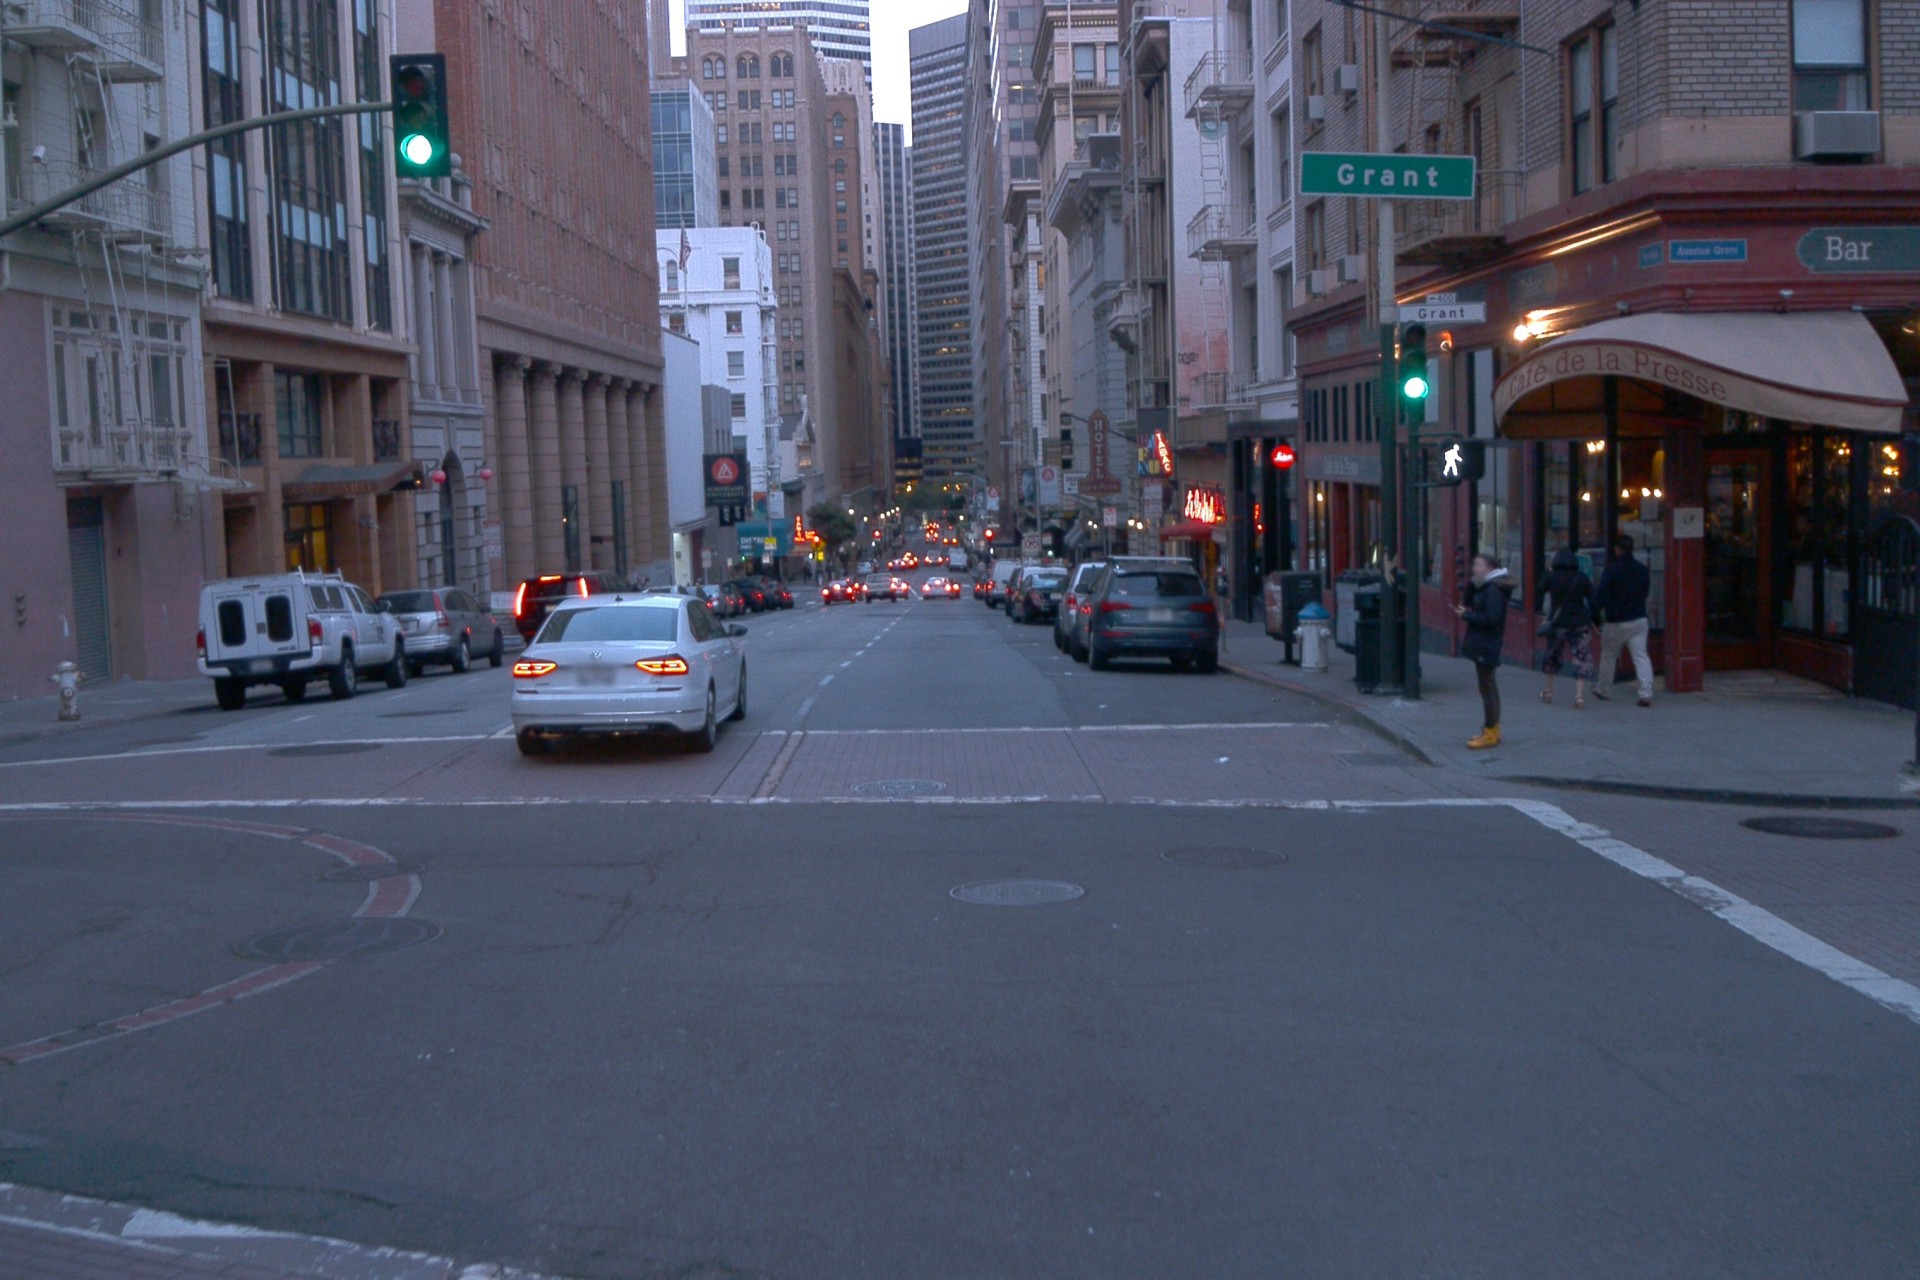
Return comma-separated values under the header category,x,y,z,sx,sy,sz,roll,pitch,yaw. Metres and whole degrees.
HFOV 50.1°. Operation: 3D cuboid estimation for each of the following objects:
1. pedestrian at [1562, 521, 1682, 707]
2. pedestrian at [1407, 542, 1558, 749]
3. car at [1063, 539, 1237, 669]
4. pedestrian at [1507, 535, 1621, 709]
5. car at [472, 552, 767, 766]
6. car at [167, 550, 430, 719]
category,x,y,z,sx,sy,sz,roll,pitch,yaw
pedestrian,6.439,-0.250,20.034,0.840,1.766,0.955,0,1,-1
pedestrian,4.533,0.040,17.897,1.062,1.756,0.906,0,1,-2
car,2.841,-0.541,31.857,2.215,1.850,4.835,0,1,0
pedestrian,5.863,-0.177,20.001,0.766,1.656,0.958,0,1,-5
car,-3.175,0.134,20.209,2.119,1.850,4.734,0,1,0
car,-9.697,-0.110,30.692,2.287,2.294,5.435,0,1,-1
